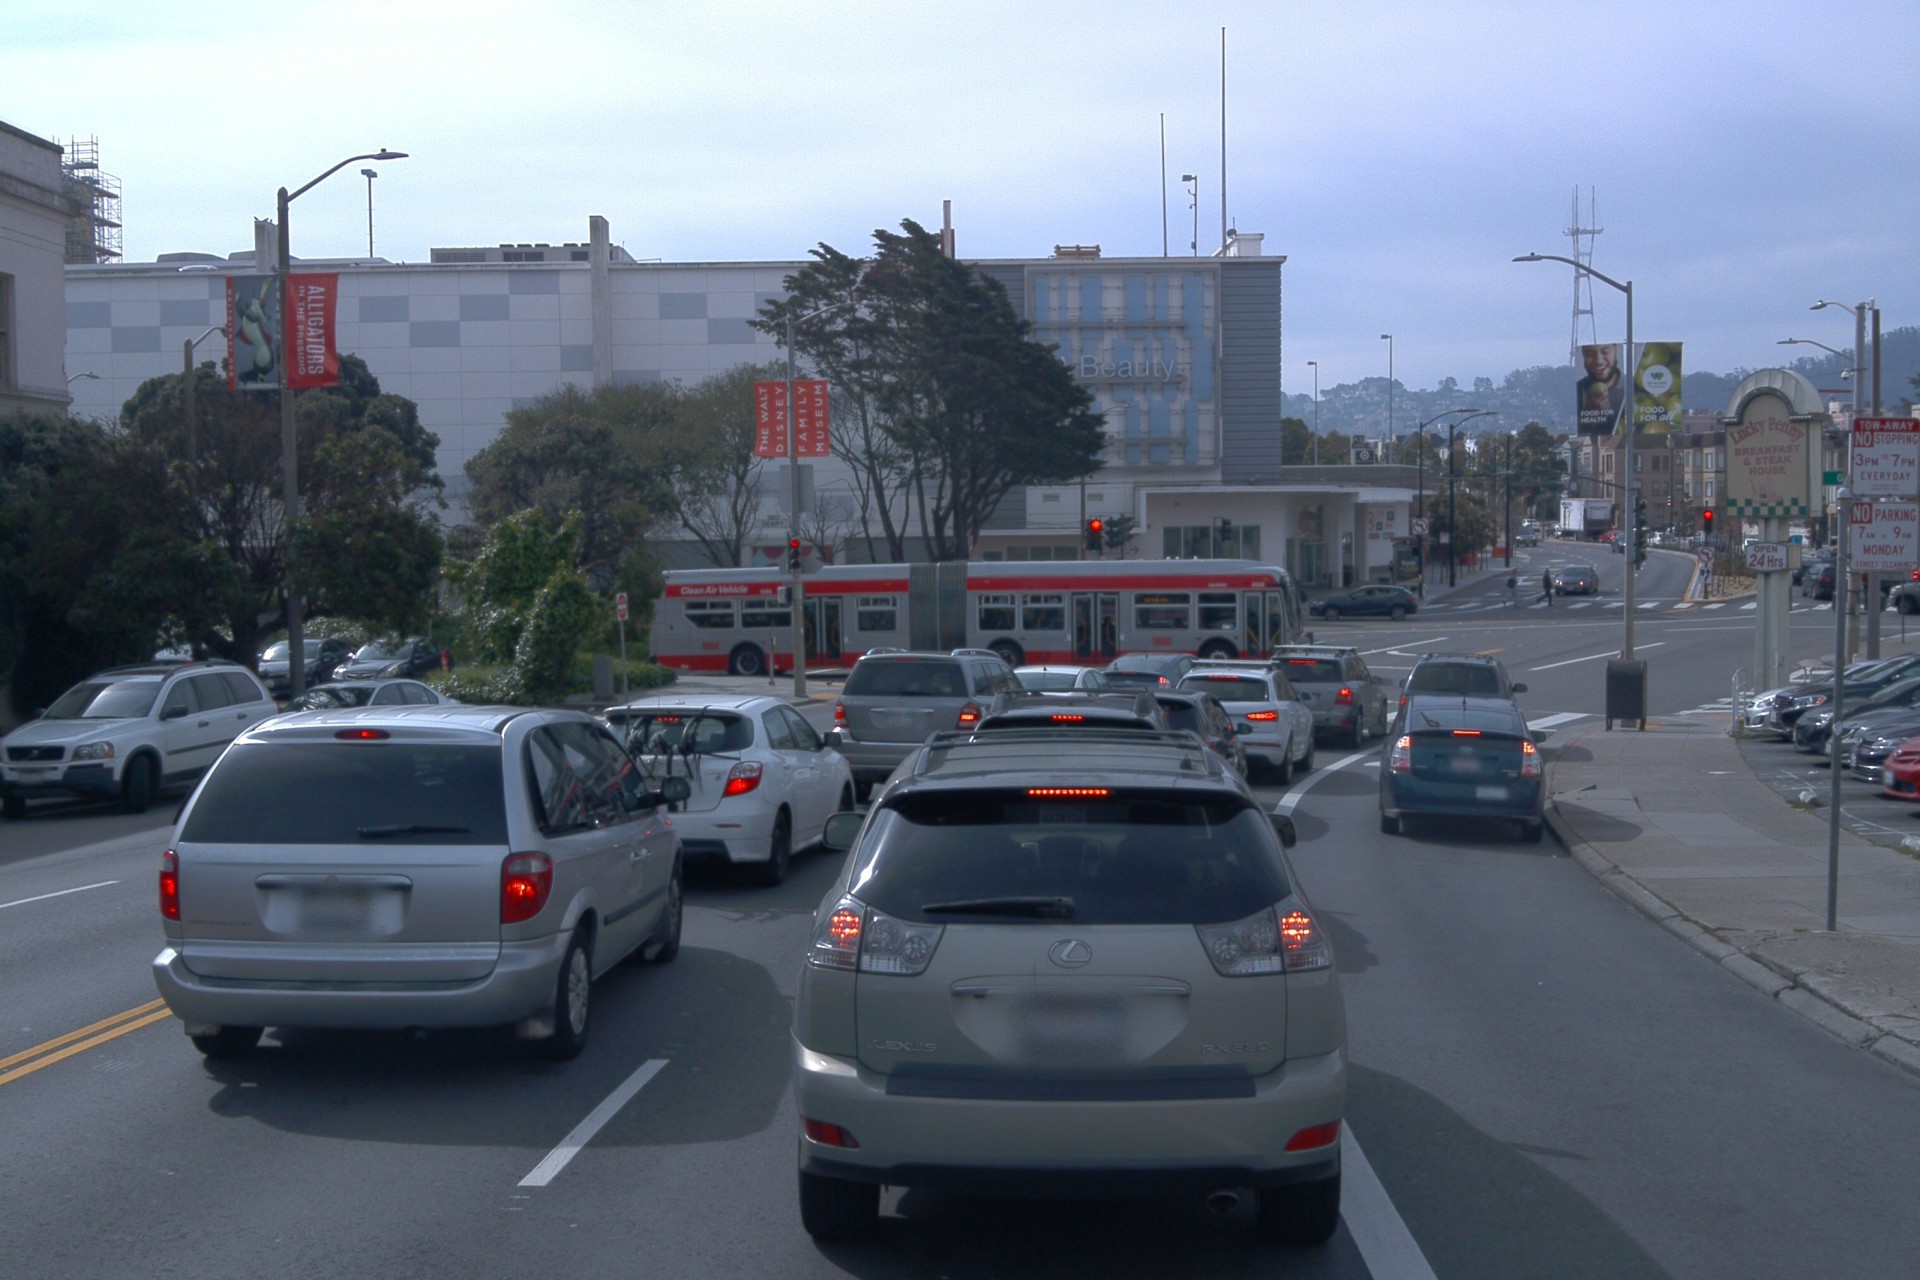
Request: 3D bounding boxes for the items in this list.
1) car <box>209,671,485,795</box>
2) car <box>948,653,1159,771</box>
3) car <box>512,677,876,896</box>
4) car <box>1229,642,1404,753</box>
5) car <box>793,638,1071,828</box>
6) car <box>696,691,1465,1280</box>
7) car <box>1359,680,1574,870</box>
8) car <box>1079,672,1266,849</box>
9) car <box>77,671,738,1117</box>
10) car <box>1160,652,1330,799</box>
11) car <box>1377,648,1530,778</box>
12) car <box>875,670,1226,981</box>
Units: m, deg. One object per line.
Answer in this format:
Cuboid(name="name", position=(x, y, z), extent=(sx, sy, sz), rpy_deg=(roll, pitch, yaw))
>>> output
Cuboid(name="car", position=(-9.230, 1.344, 31.231), extent=(1.977, 1.640, 4.663), rpy_deg=(1, 0, 13))
Cuboid(name="car", position=(1.597, 1.075, 32.718), extent=(2.220, 1.670, 4.643), rpy_deg=(1, 0, 18))
Cuboid(name="car", position=(-2.125, 1.148, 17.681), extent=(1.982, 1.530, 4.306), rpy_deg=(1, 0, 9))
Cuboid(name="car", position=(6.641, 0.979, 37.540), extent=(2.226, 1.850, 5.307), rpy_deg=(1, 0, 20))
Cuboid(name="car", position=(-0.211, 1.038, 25.536), extent=(2.236, 2.100, 4.827), rpy_deg=(1, 0, 15))
Cuboid(name="car", position=(0.409, 1.168, 8.129), extent=(2.197, 1.780, 4.467), rpy_deg=(1, 0, 2))
Cuboid(name="car", position=(5.627, 1.417, 23.175), extent=(2.113, 1.790, 4.645), rpy_deg=(1, 0, 12))
Cuboid(name="car", position=(2.538, 1.308, 23.697), extent=(1.526, 1.780, 3.939), rpy_deg=(1, 0, 15))
Cuboid(name="car", position=(-2.684, 1.139, 11.270), extent=(2.131, 1.830, 4.635), rpy_deg=(1, 0, 4))
Cuboid(name="car", position=(4.146, 1.143, 29.218), extent=(1.795, 1.880, 4.044), rpy_deg=(1, 0, 17))
Cuboid(name="car", position=(8.542, 1.167, 35.090), extent=(2.203, 2.020, 4.801), rpy_deg=(1, 0, 18))
Cuboid(name="car", position=(0.851, 1.210, 15.322), extent=(2.119, 1.870, 4.391), rpy_deg=(1, 0, 9))
